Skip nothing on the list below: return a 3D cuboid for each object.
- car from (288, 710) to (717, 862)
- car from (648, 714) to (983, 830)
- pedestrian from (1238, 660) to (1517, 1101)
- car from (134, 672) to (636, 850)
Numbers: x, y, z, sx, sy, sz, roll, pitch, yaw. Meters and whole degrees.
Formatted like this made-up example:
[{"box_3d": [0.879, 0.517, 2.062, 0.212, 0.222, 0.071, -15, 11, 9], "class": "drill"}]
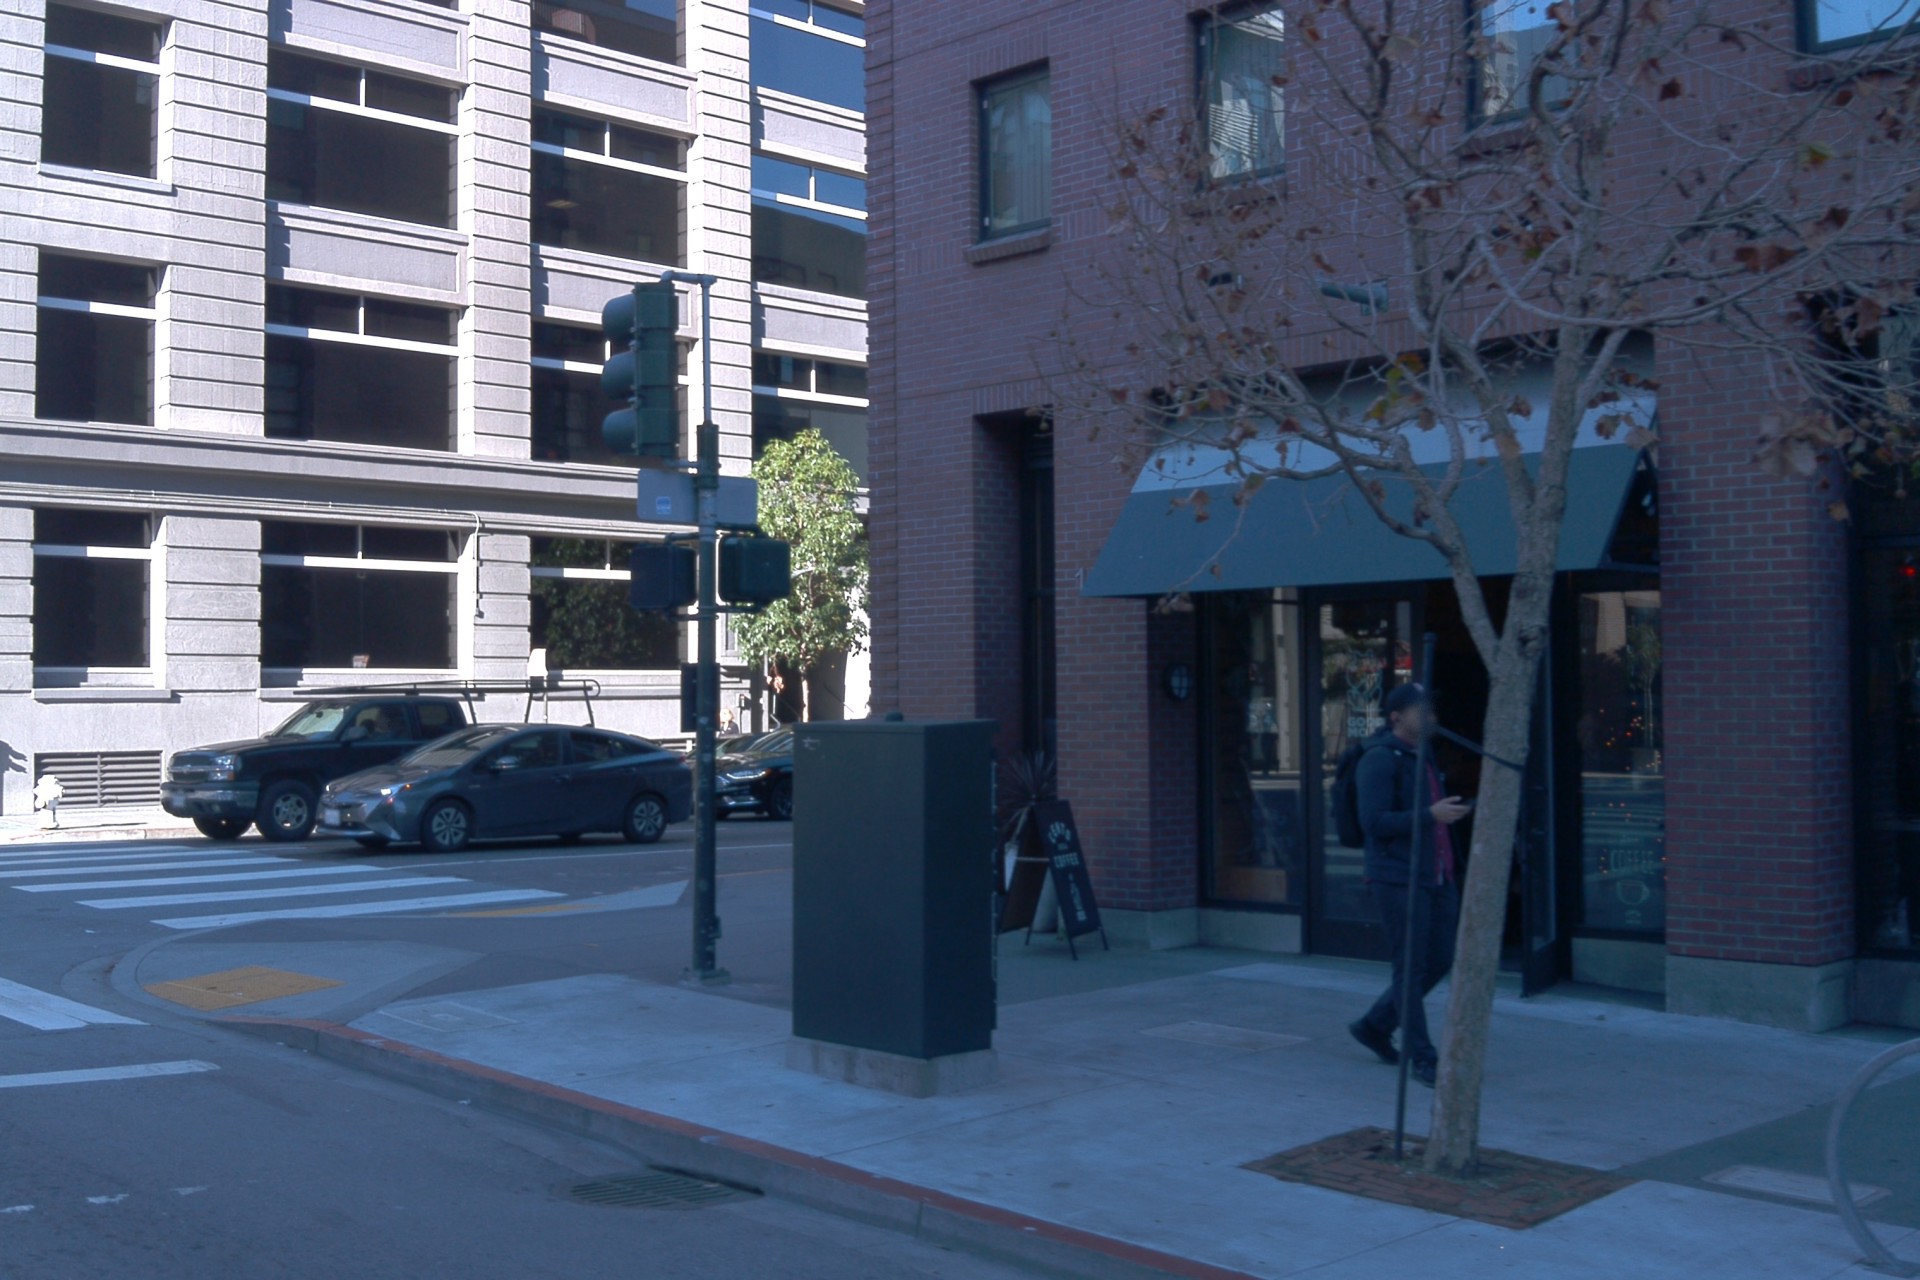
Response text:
[{"box_3d": [-5.317, 1.640, 24.686, 1.985, 1.520, 4.615, 0, 0, 44], "class": "car"}, {"box_3d": [-2.157, 1.970, 32.282, 2.132, 1.530, 5.023, 0, 0, 44], "class": "car"}, {"box_3d": [1.986, 1.081, 9.941, 0.885, 1.960, 0.945, 0, 0, -41], "class": "pedestrian"}, {"box_3d": [-7.429, 1.472, 27.476, 5.926, 2.070, 2.428, 1, 0, -44], "class": "car"}]
